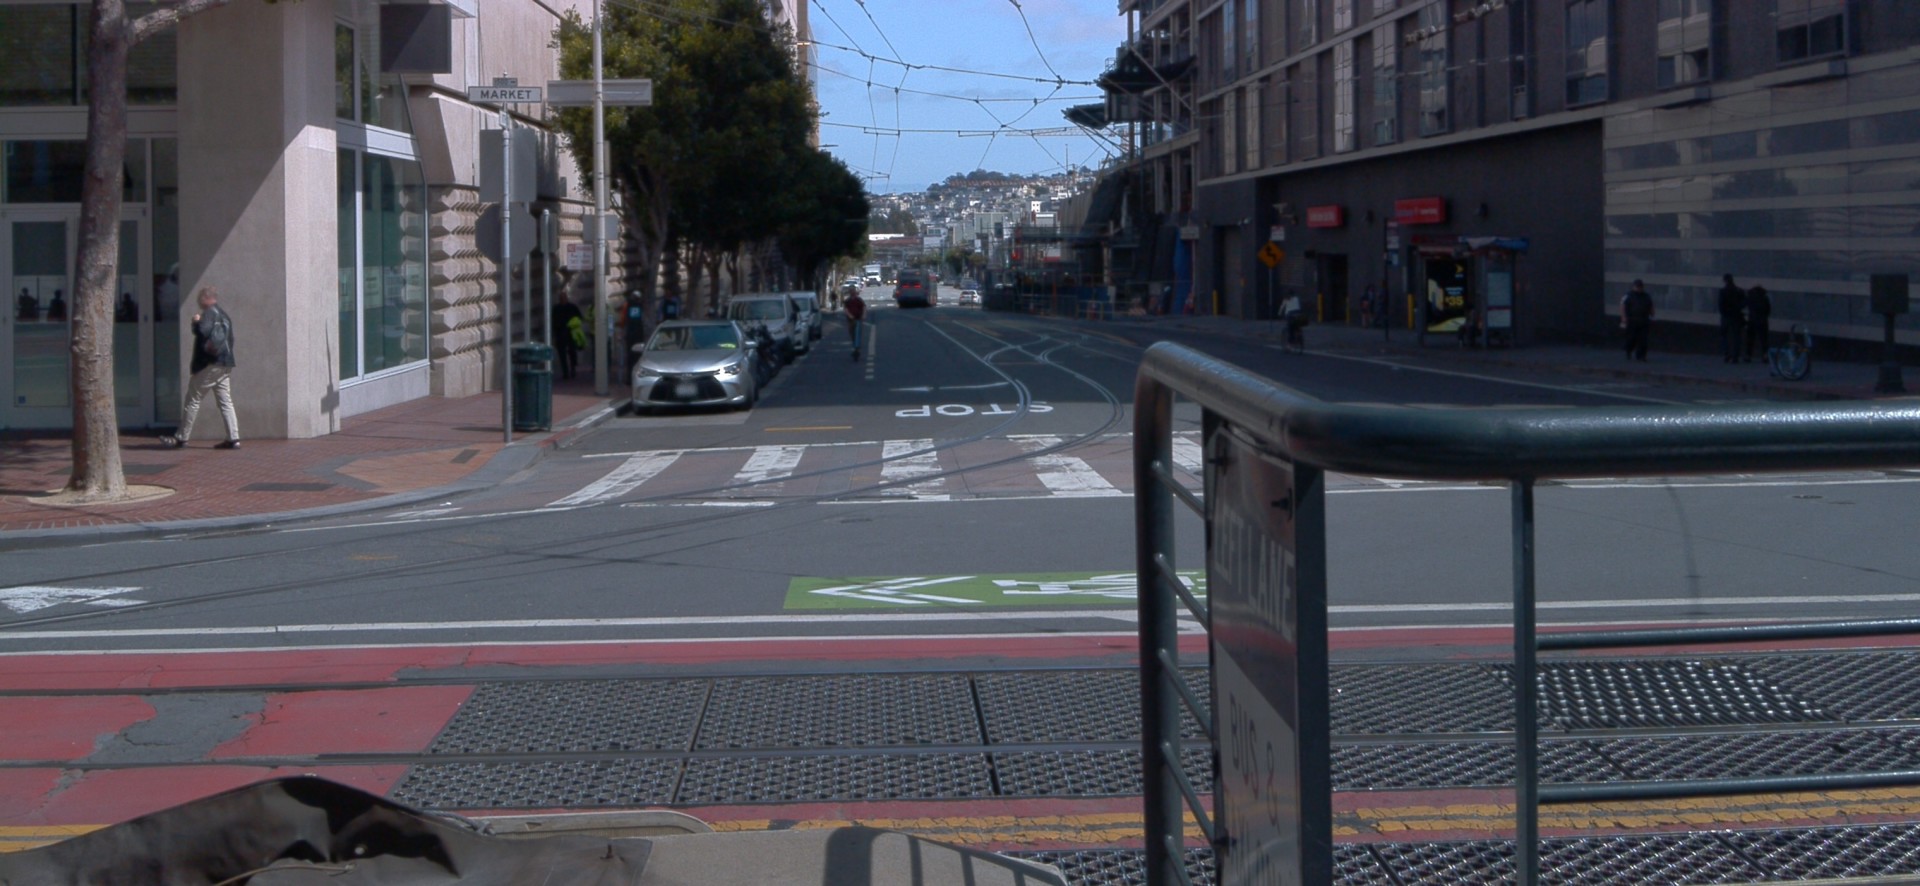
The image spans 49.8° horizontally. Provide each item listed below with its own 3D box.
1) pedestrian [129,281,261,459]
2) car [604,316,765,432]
[{"bbox_3d":[-8.907,-0.867,24.098,1.156,2.006,0.881,0,2,5],"label":"pedestrian"},{"bbox_3d":[-4.440,-1.200,34.041,2.160,1.492,4.838,-1,6,-2],"label":"car"}]
